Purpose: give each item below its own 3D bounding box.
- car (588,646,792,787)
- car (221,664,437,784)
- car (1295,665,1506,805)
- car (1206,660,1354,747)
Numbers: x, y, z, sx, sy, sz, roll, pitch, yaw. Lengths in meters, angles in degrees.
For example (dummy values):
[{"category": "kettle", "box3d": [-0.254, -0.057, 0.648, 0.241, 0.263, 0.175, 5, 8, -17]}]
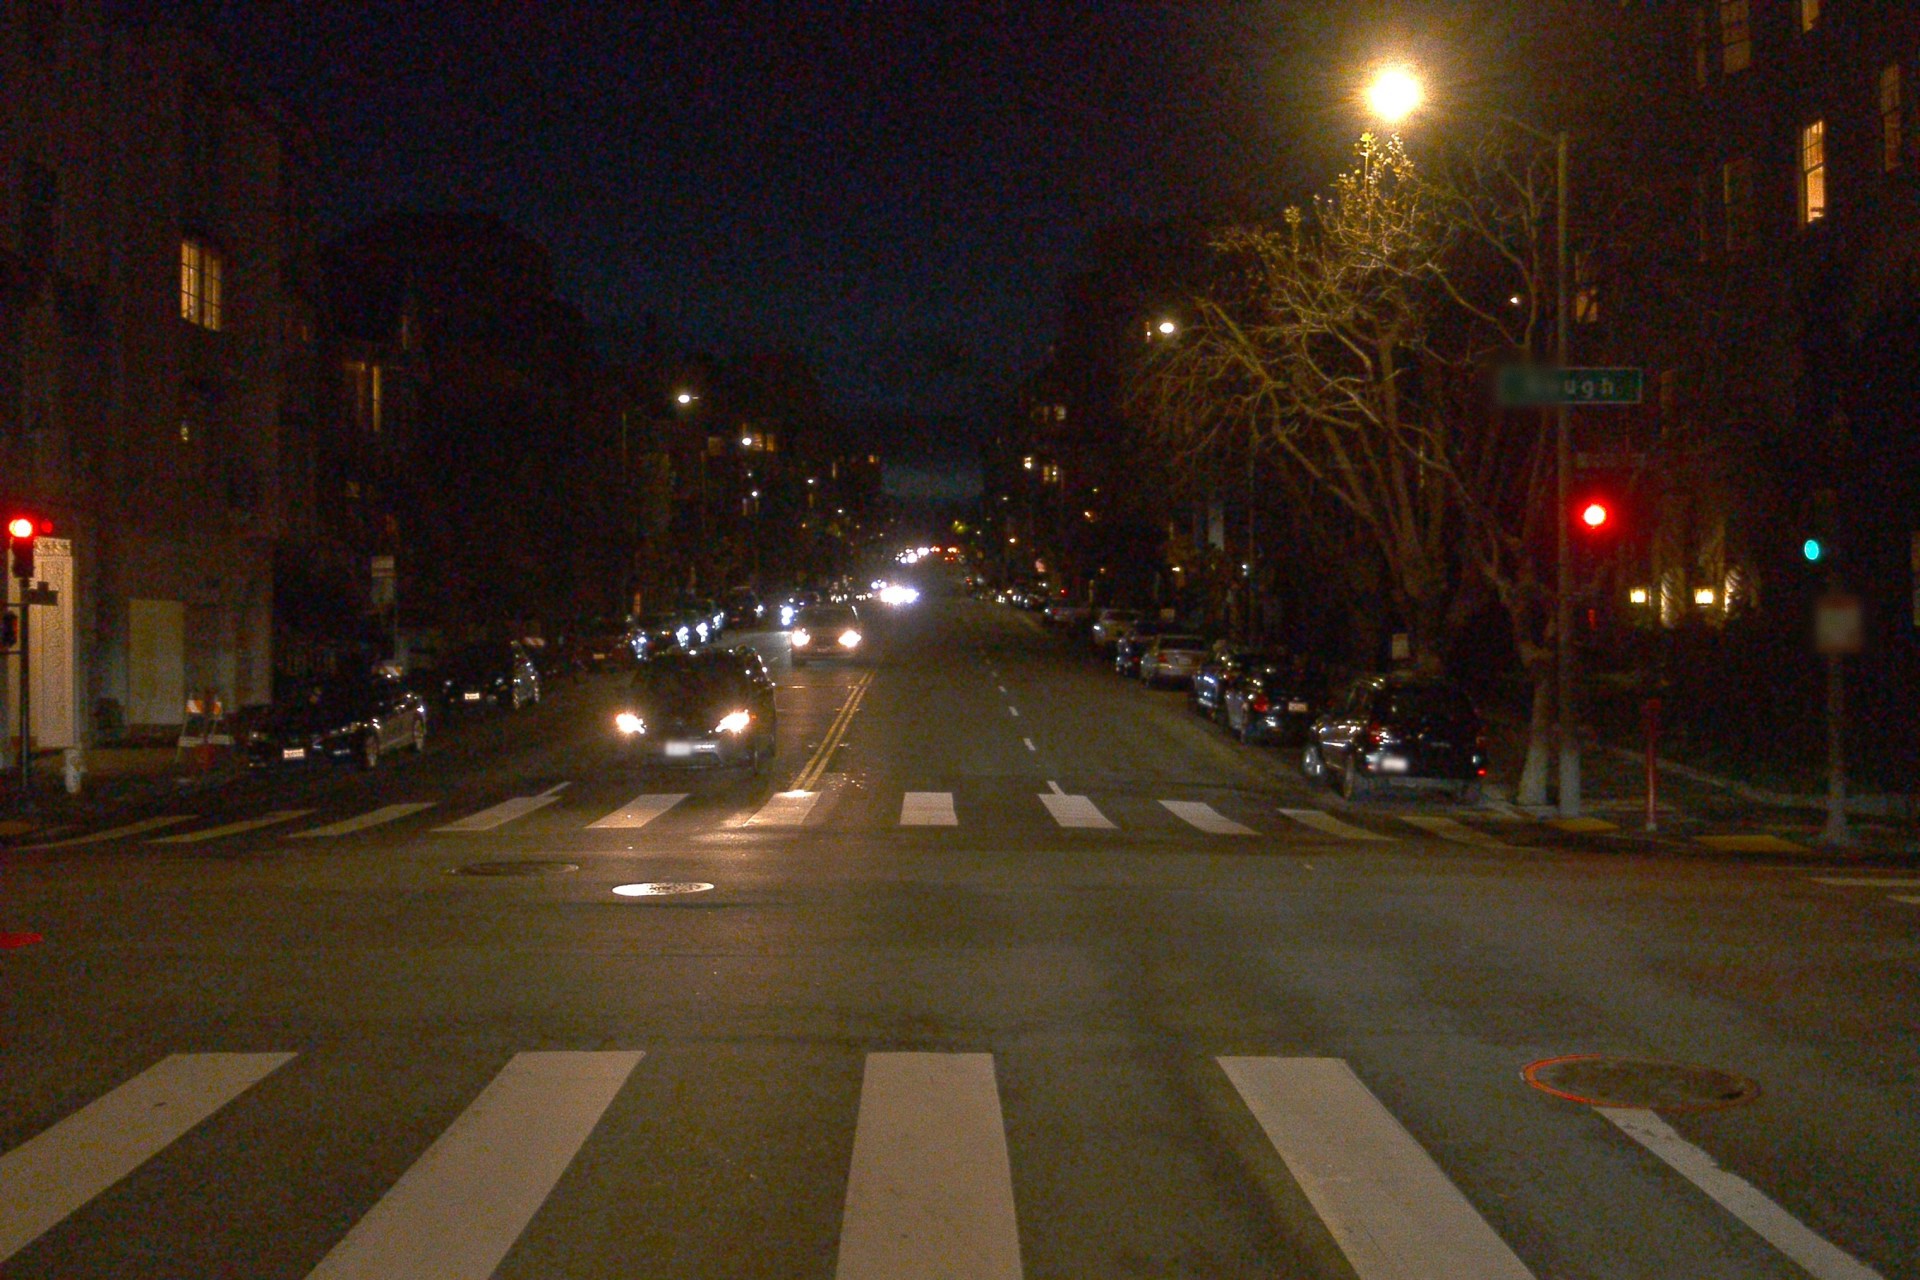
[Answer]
[{"category": "car", "box3d": [-3.807, 1.033, 29.922, 2.293, 1.803, 4.677, 1, 0, 0]}, {"category": "car", "box3d": [-10.055, 1.292, 33.210, 2.045, 1.673, 4.519, 1, 0, 0]}, {"category": "car", "box3d": [6.078, 1.260, 28.895, 1.802, 1.714, 4.078, 1, 0, -4]}, {"category": "car", "box3d": [5.812, 1.129, 37.883, 1.802, 1.404, 4.078, 1, 0, -4]}]
